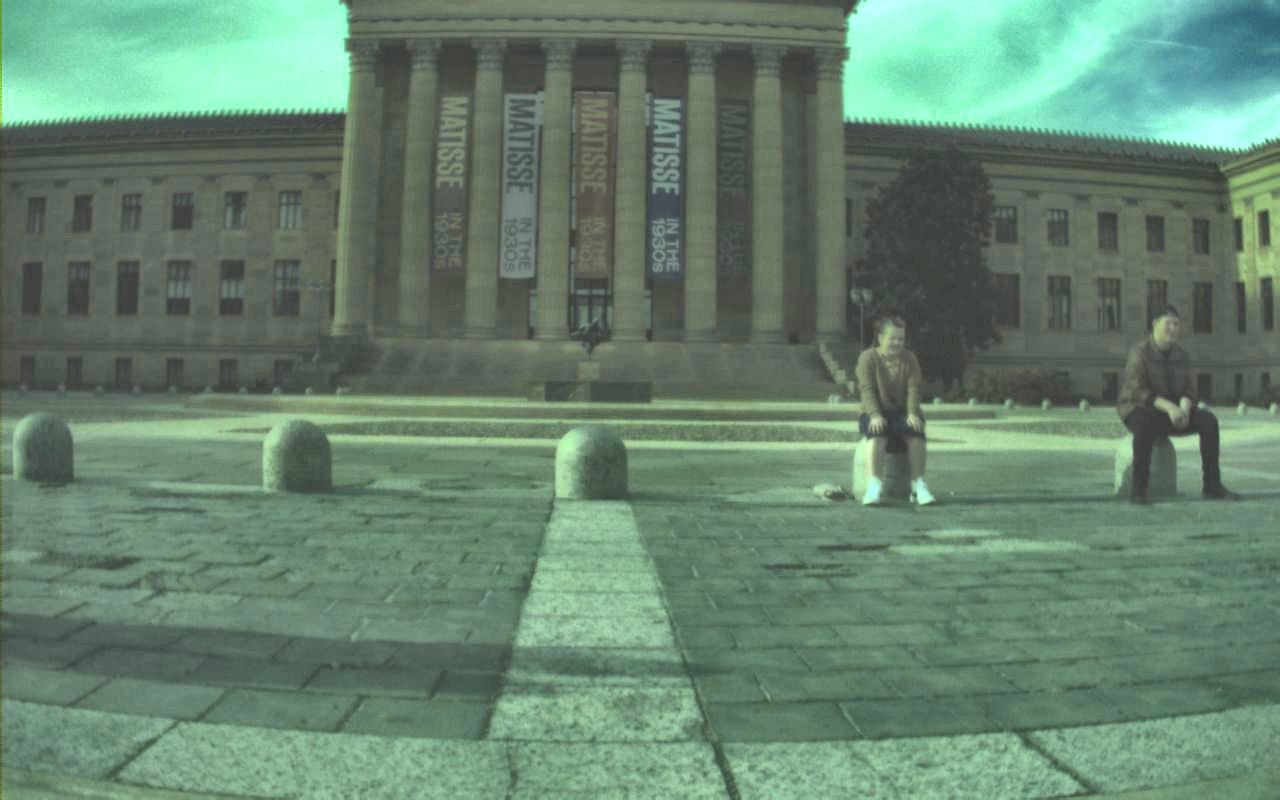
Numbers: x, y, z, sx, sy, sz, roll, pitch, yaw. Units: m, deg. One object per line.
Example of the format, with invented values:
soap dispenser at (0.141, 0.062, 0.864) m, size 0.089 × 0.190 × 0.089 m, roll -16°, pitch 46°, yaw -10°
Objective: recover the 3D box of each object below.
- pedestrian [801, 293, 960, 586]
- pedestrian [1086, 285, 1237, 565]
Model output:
pedestrian at (1.553, 0.233, 7.926) m, size 0.823 × 1.759 × 0.825 m, roll 1°, pitch 0°, yaw 25°
pedestrian at (3.499, 0.167, 7.879) m, size 0.838 × 1.780 × 0.845 m, roll 0°, pitch 0°, yaw 6°
